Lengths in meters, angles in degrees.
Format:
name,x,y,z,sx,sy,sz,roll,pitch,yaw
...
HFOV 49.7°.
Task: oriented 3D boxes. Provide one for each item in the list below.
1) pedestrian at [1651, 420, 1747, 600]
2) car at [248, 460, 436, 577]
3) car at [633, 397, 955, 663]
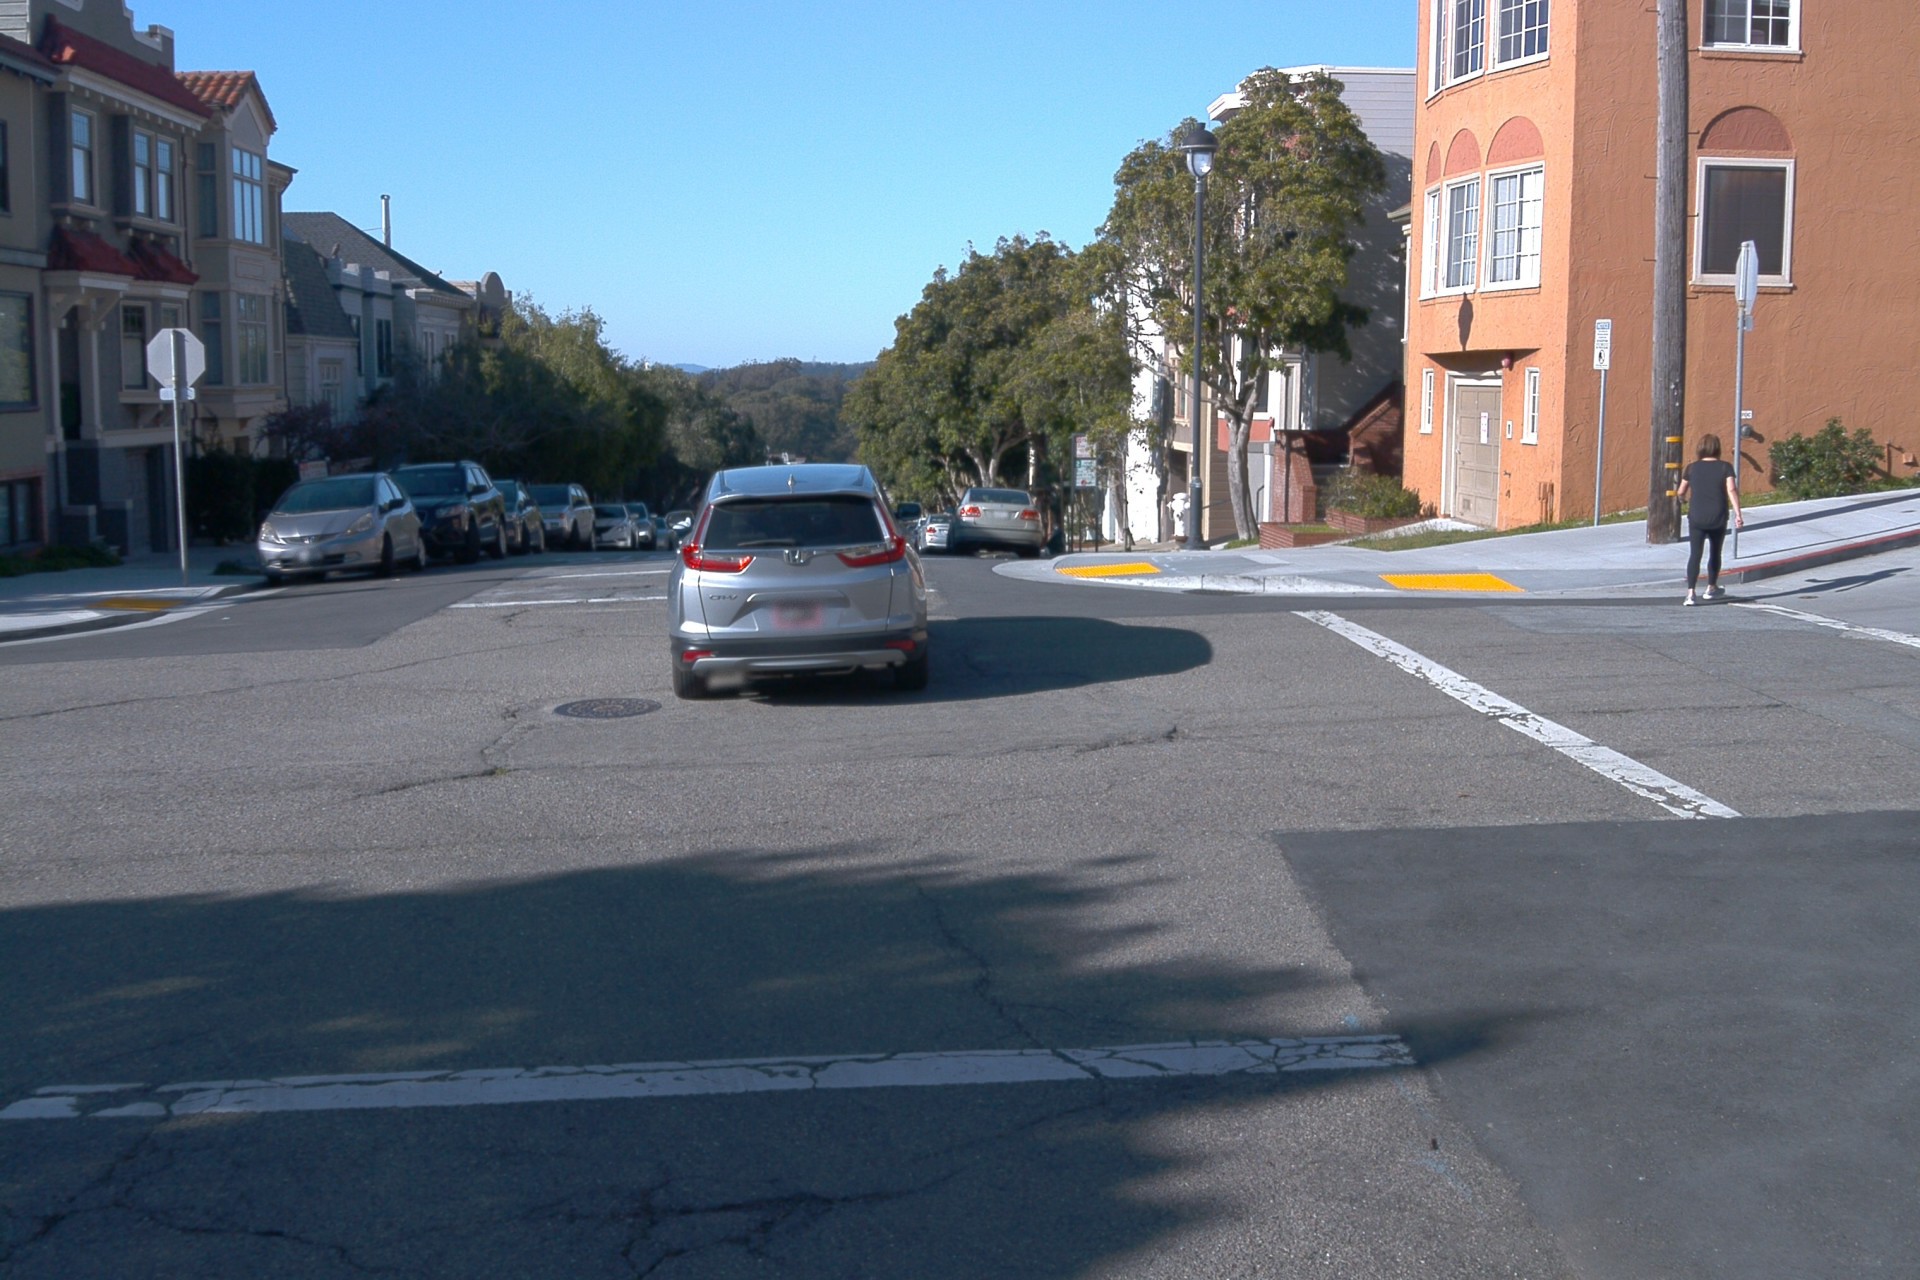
name,x,y,z,sx,sy,sz,roll,pitch,yaw
pedestrian,7.000,-1.202,19.600,0.731,1.620,1.128,0,0,26
car,-8.654,-1.664,29.293,1.715,1.400,3.763,0,0,-3
car,-1.284,-0.731,16.458,2.190,1.800,4.696,0,0,-4
